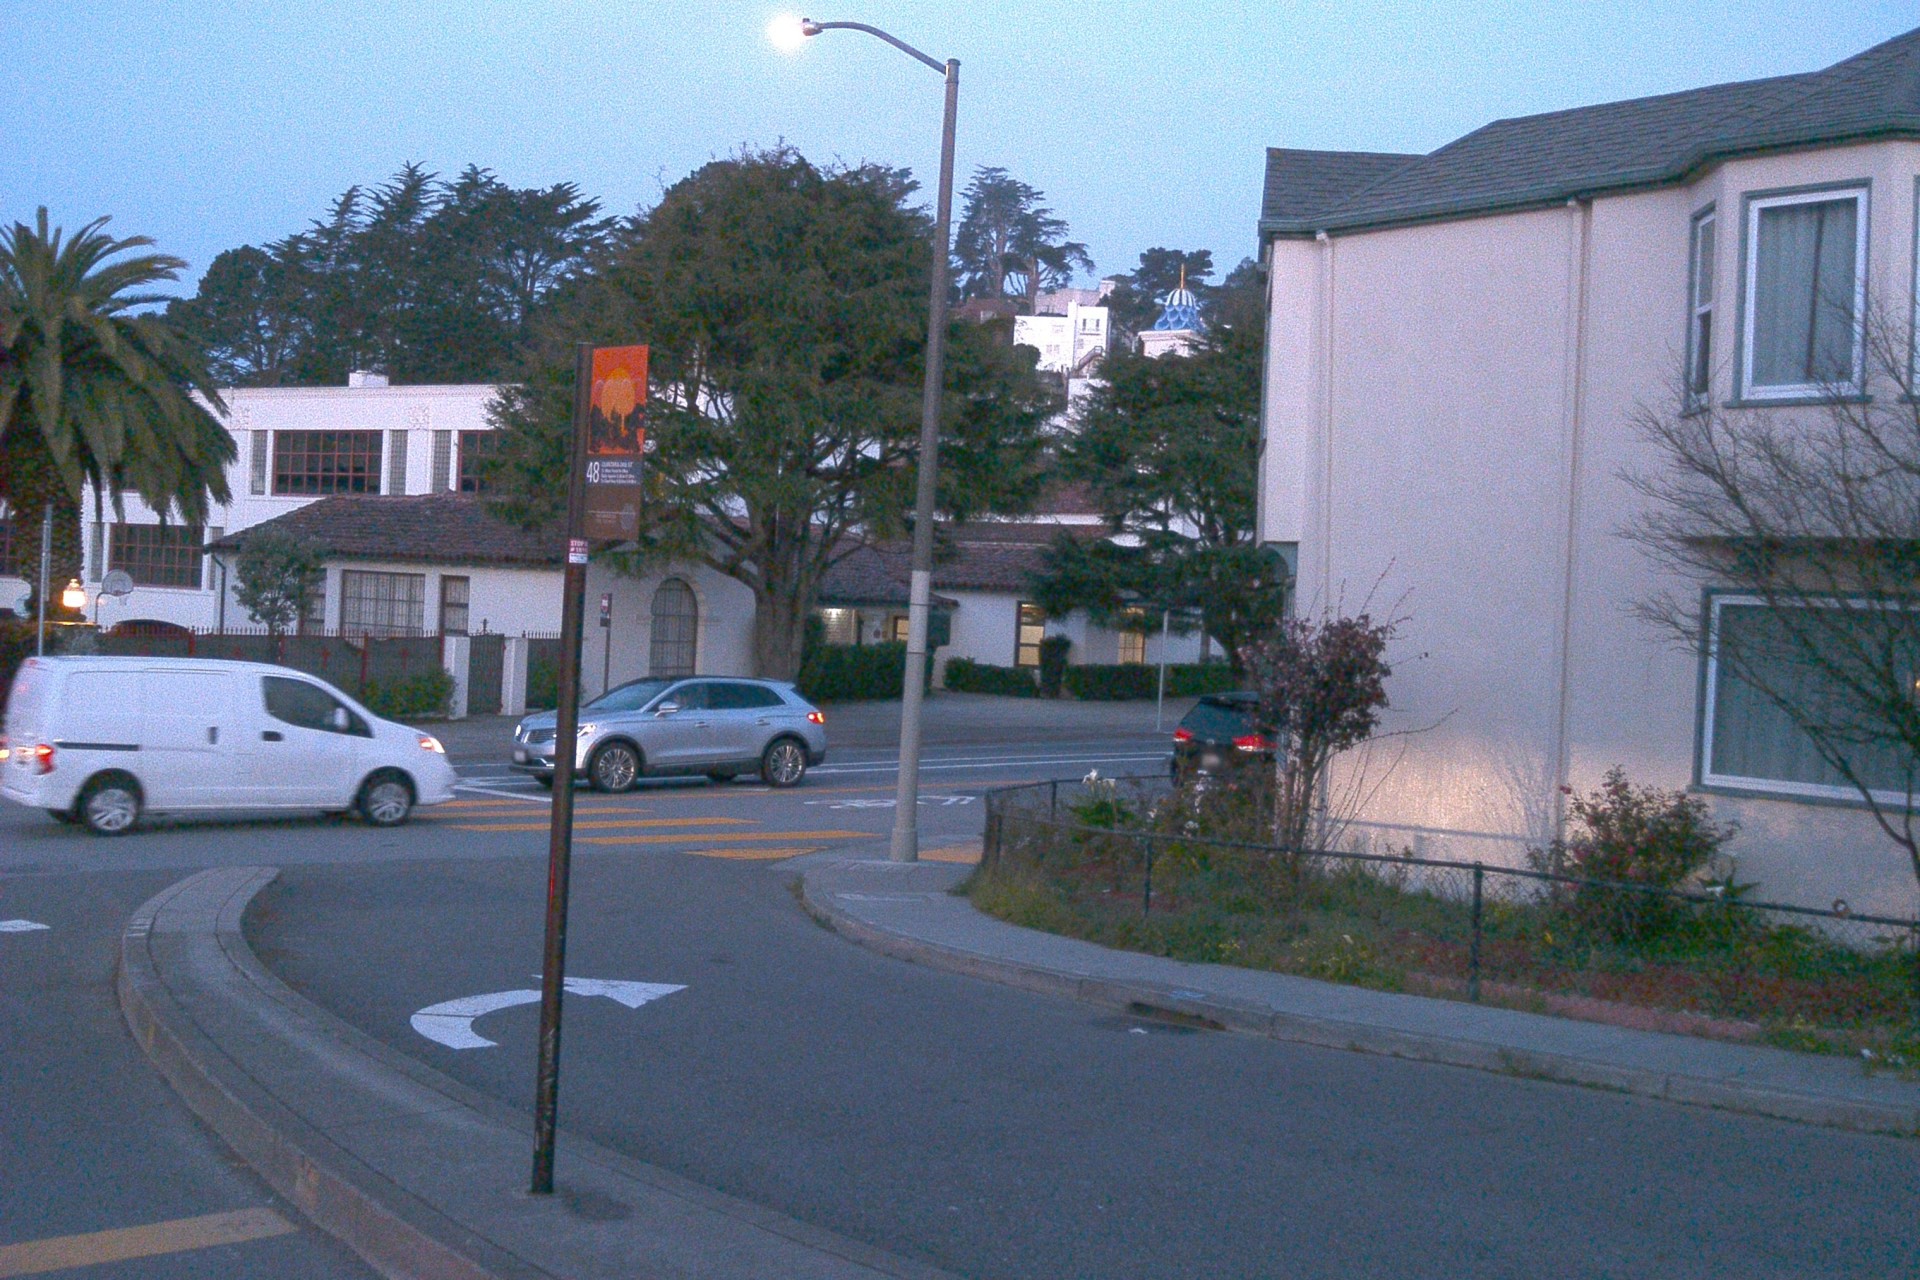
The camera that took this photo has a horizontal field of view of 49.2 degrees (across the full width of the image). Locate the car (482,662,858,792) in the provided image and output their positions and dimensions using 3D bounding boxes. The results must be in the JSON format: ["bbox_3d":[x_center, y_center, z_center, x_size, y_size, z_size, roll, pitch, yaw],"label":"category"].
[{"bbox_3d":[-4.179,1.204,30.665,5.027,1.730,2.150,1,0,-39],"label":"car"}]

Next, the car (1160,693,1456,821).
[{"bbox_3d":[5.027,1.629,30.201,3.819,1.660,2.058,1,0,-34],"label":"car"}]
